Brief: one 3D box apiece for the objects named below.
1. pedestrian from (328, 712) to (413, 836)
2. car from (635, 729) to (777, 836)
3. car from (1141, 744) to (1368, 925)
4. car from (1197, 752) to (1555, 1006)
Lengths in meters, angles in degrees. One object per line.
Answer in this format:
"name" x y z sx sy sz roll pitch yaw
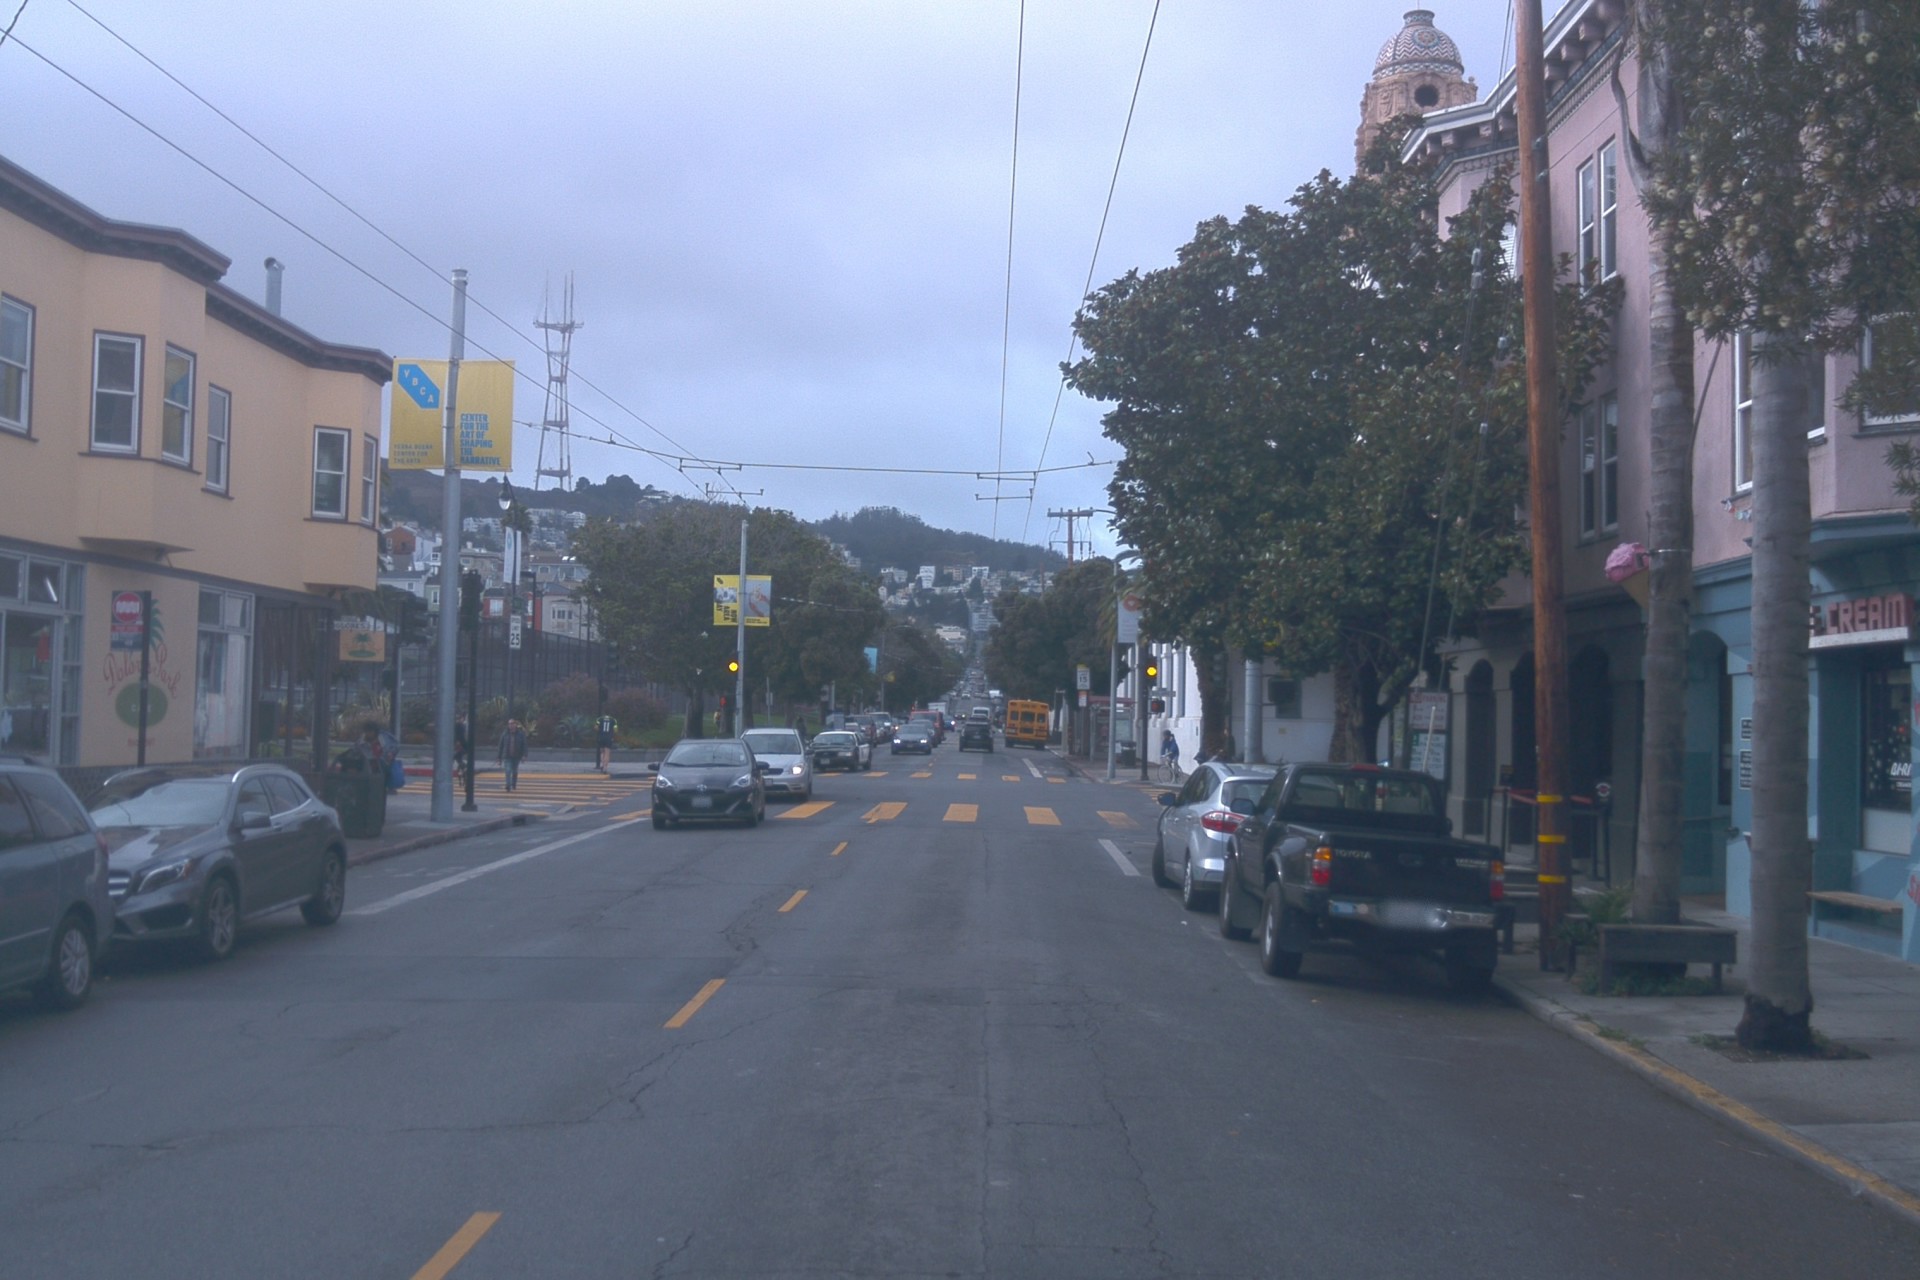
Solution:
"pedestrian" -8.520 1.928 30.159 0.962 1.740 0.827 1 -1 -1
"car" -4.145 2.312 34.548 1.971 1.570 3.914 1 -2 -2
"car" 3.181 2.084 23.296 1.905 1.720 4.089 1 -2 0
"car" 3.372 1.907 17.924 2.066 1.730 4.817 1 -2 -1
